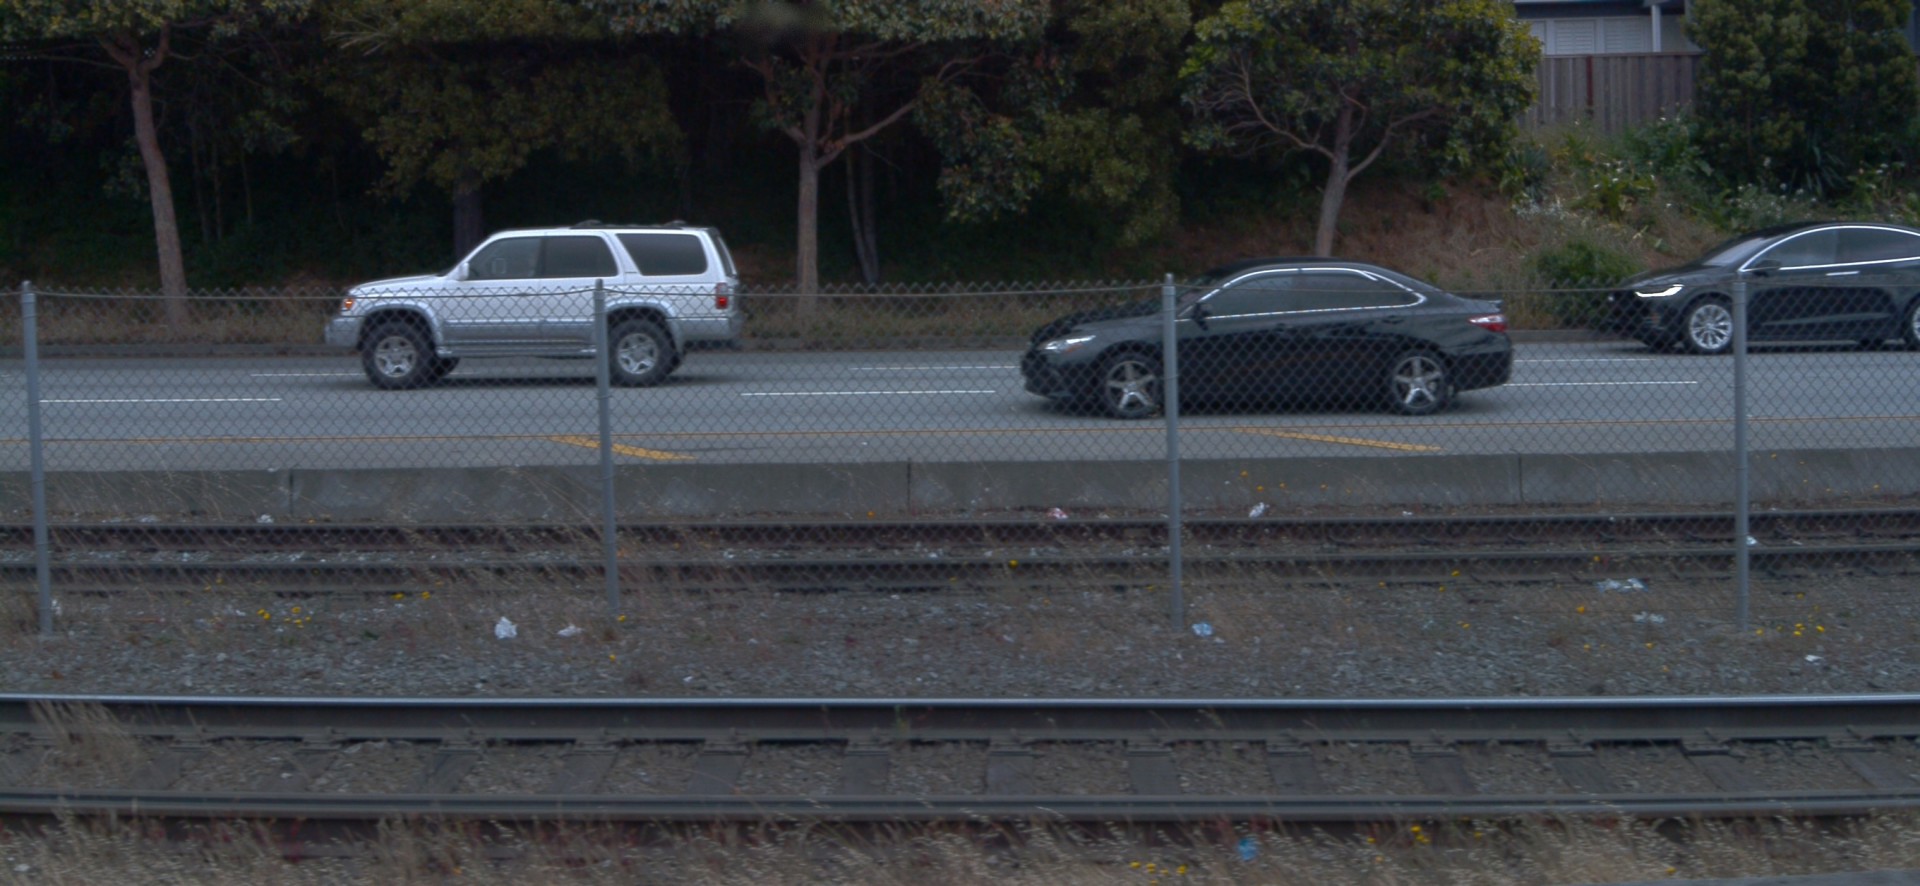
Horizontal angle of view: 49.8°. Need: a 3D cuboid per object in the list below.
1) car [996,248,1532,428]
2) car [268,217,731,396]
[{"bbox_3d":[2.796,-1.049,19.843,4.808,1.544,2.042,-1,5,-1],"label":"car"},{"bbox_3d":[-4.985,-1.554,22.921,4.699,1.834,1.980,-1,4,-1],"label":"car"}]
